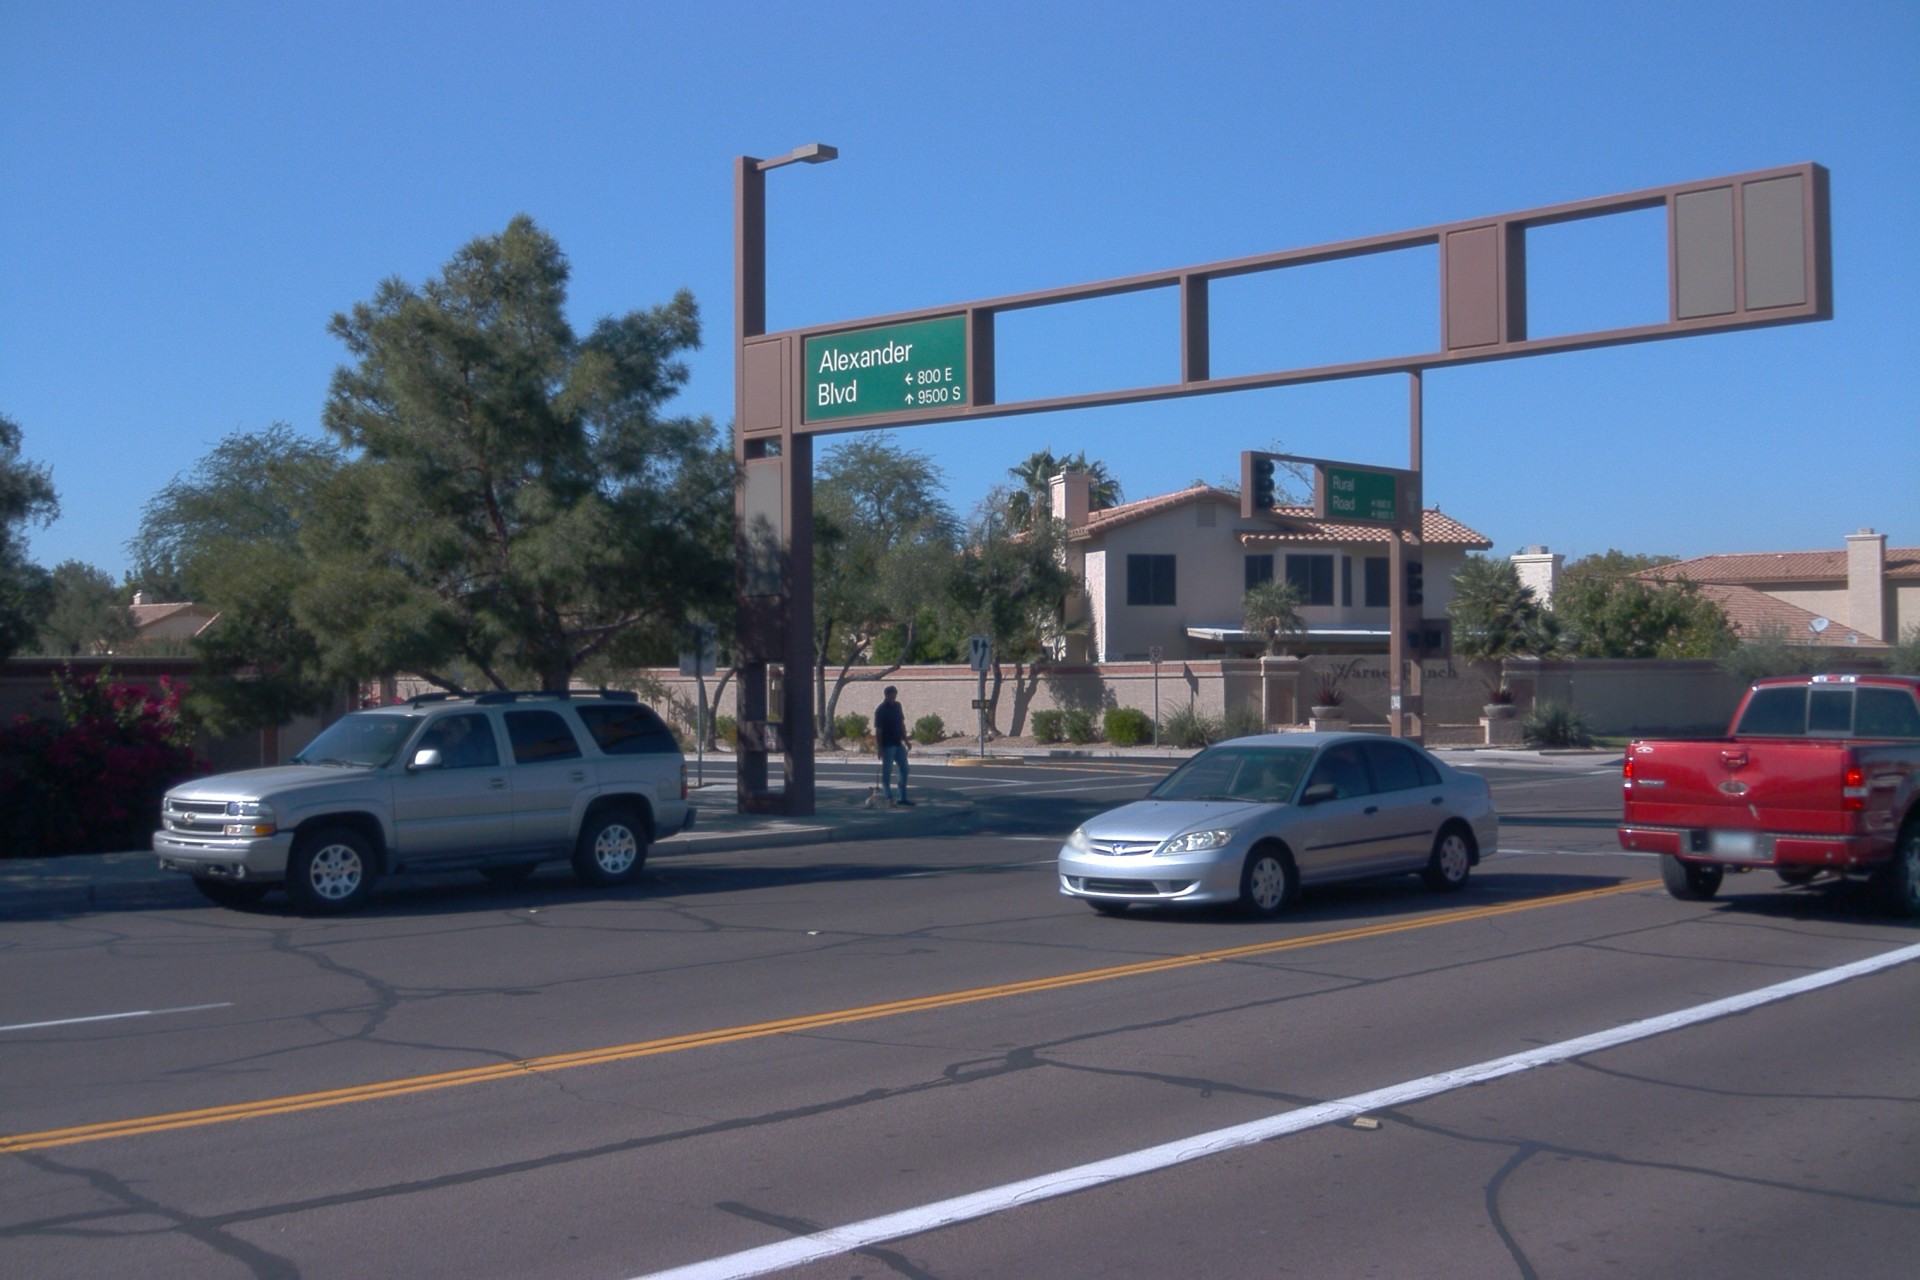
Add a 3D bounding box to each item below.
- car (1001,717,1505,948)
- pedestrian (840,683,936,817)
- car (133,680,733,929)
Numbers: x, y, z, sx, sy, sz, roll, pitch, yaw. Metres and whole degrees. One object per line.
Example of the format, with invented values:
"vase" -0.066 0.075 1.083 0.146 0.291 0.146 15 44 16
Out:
"car" 2.585 1.510 17.650 1.996 1.570 4.372 0 0 45
"pedestrian" -1.086 1.624 31.225 1.004 1.940 0.996 1 0 -44
"car" -4.962 1.432 20.195 2.380 2.020 5.153 0 0 43
